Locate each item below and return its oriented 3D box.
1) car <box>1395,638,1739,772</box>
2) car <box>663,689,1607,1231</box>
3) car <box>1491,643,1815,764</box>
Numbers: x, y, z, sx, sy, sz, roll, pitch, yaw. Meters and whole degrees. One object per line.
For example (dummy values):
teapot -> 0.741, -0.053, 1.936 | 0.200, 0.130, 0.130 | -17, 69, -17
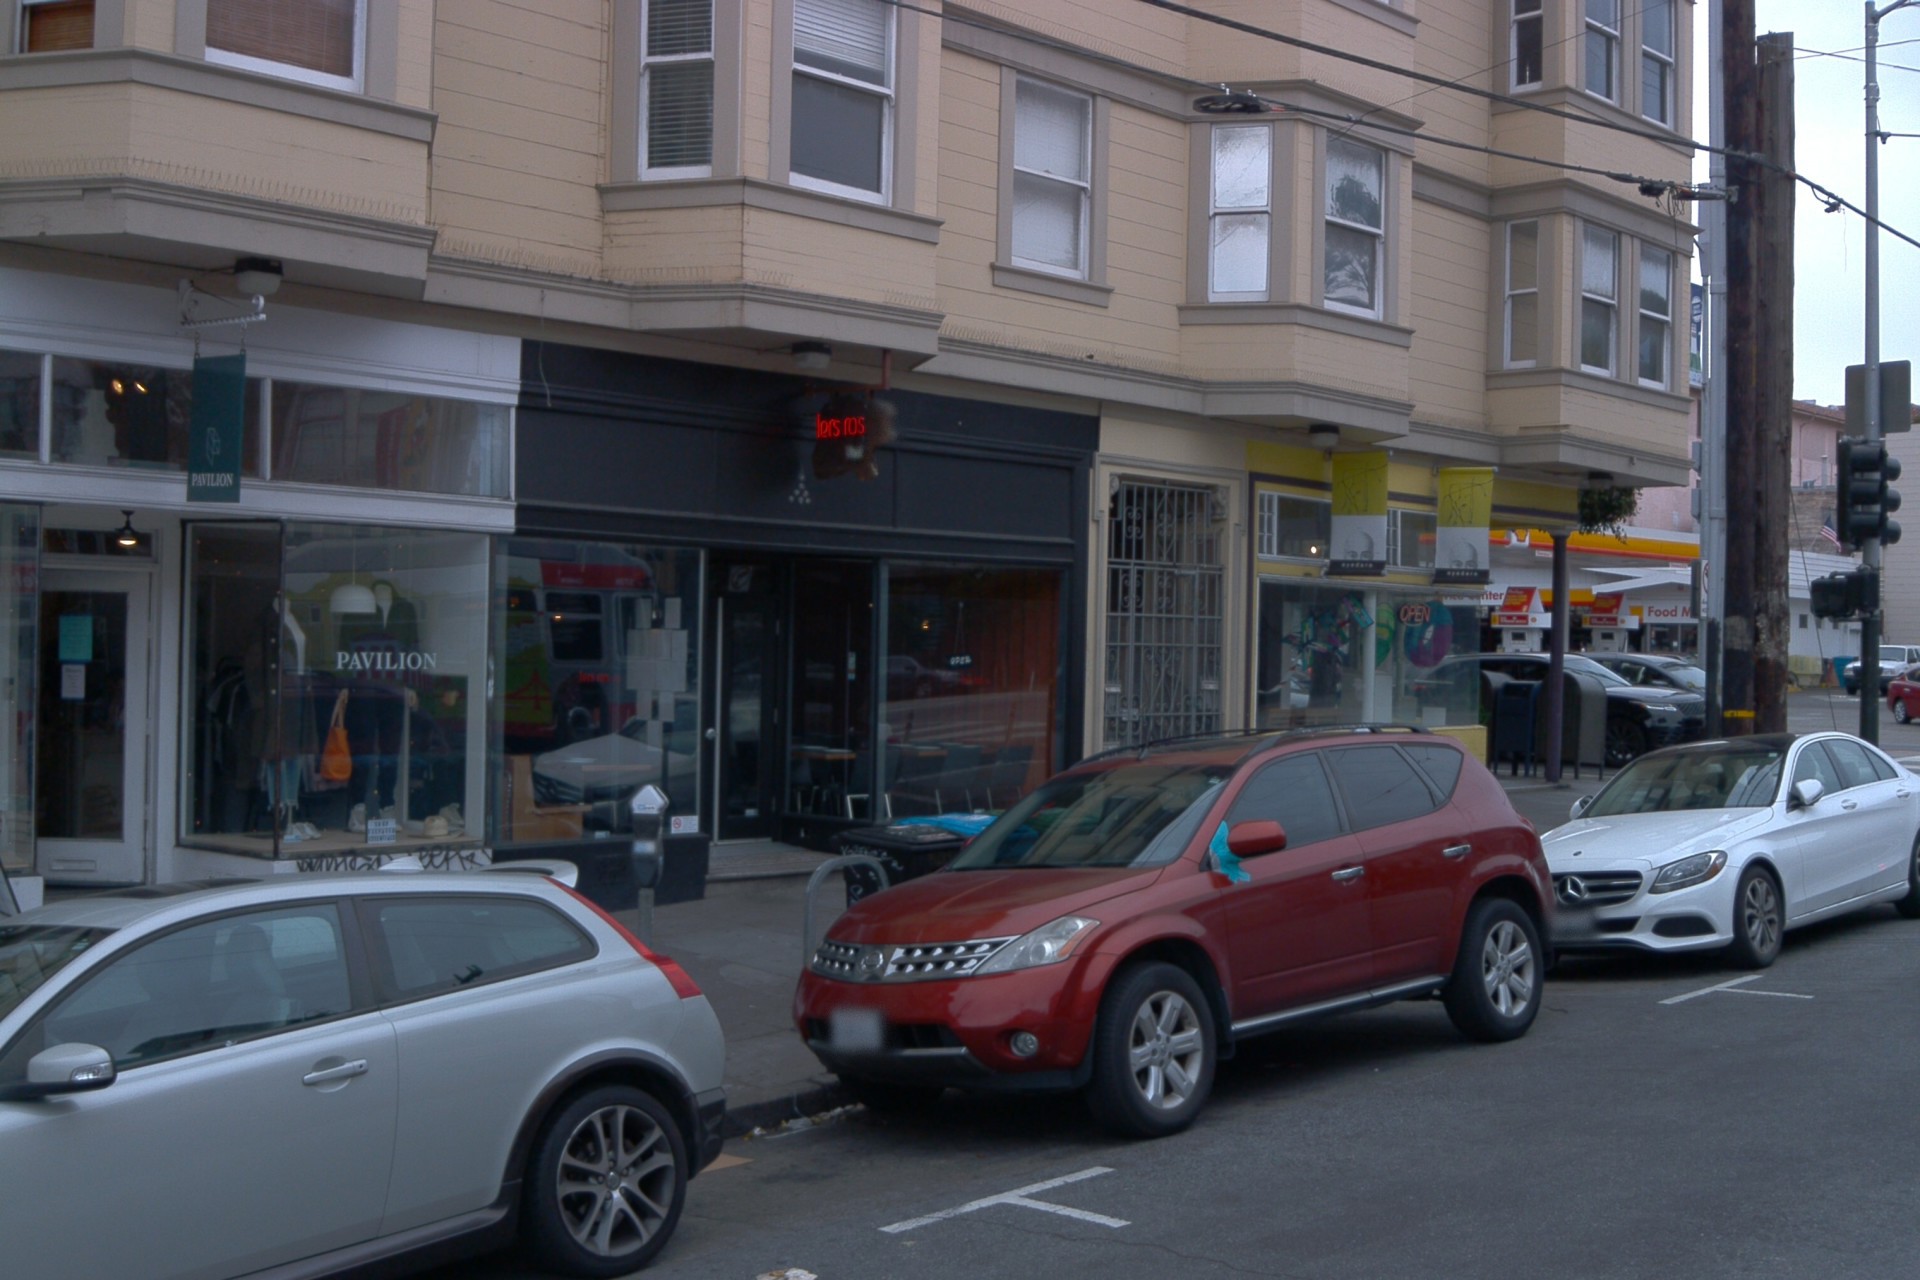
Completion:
car -> 9.288, 0.924, 31.858 | 2.104, 1.830, 4.647 | -1, 1, -44
car -> 1.083, 1.283, 10.312 | 4.743, 1.870, 2.125 | -1, 1, -45
car -> 11.487, 0.986, 34.418 | 2.067, 1.789, 4.688 | -1, 1, -45
